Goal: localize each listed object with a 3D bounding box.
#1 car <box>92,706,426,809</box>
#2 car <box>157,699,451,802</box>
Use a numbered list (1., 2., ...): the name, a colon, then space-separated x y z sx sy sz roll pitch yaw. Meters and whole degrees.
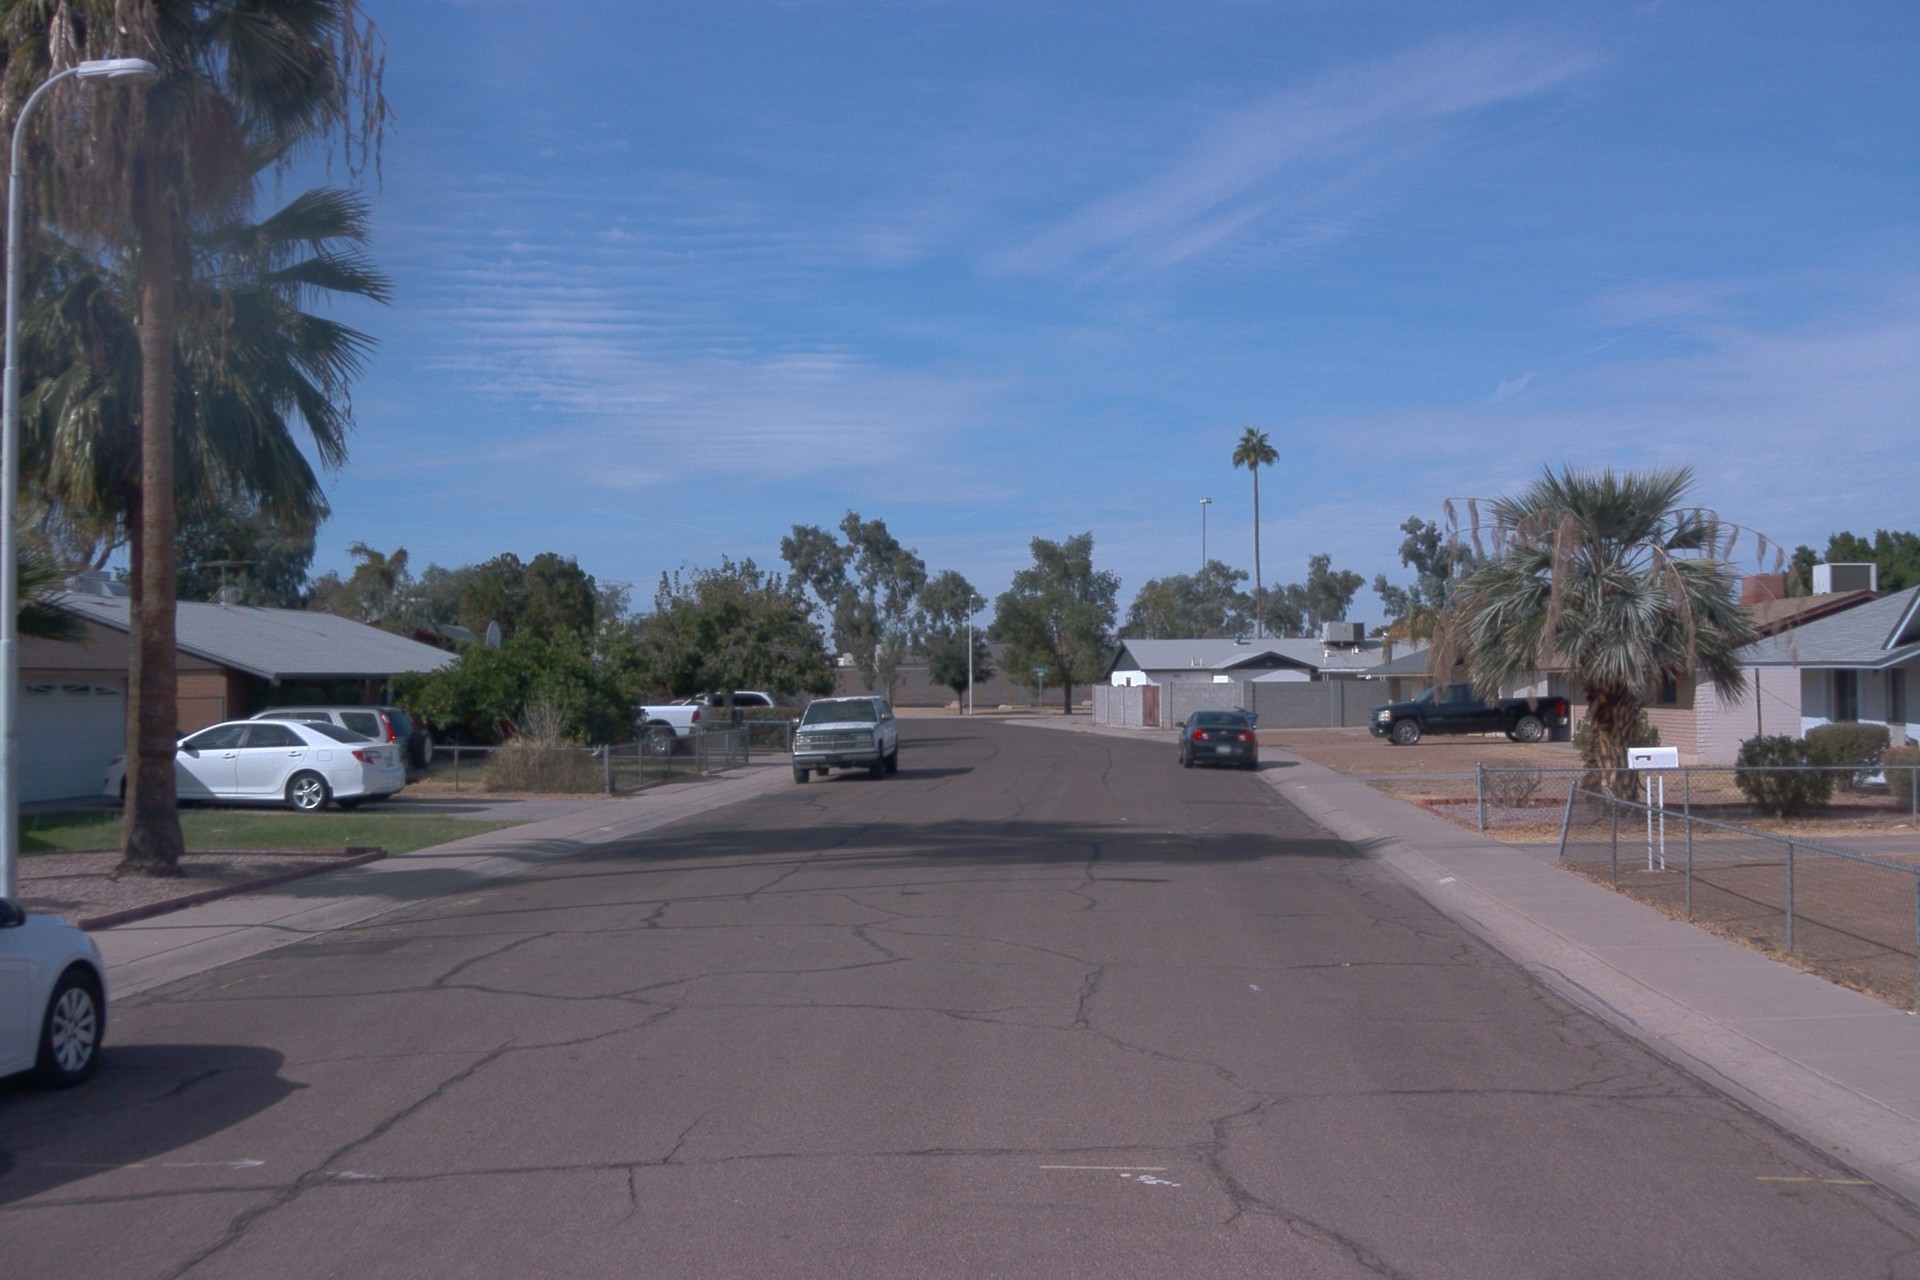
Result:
1. car: -11.431 1.892 34.035 4.763 1.580 2.094 0 -1 8
2. car: -11.448 1.913 36.464 4.451 1.710 2.113 0 -1 4
